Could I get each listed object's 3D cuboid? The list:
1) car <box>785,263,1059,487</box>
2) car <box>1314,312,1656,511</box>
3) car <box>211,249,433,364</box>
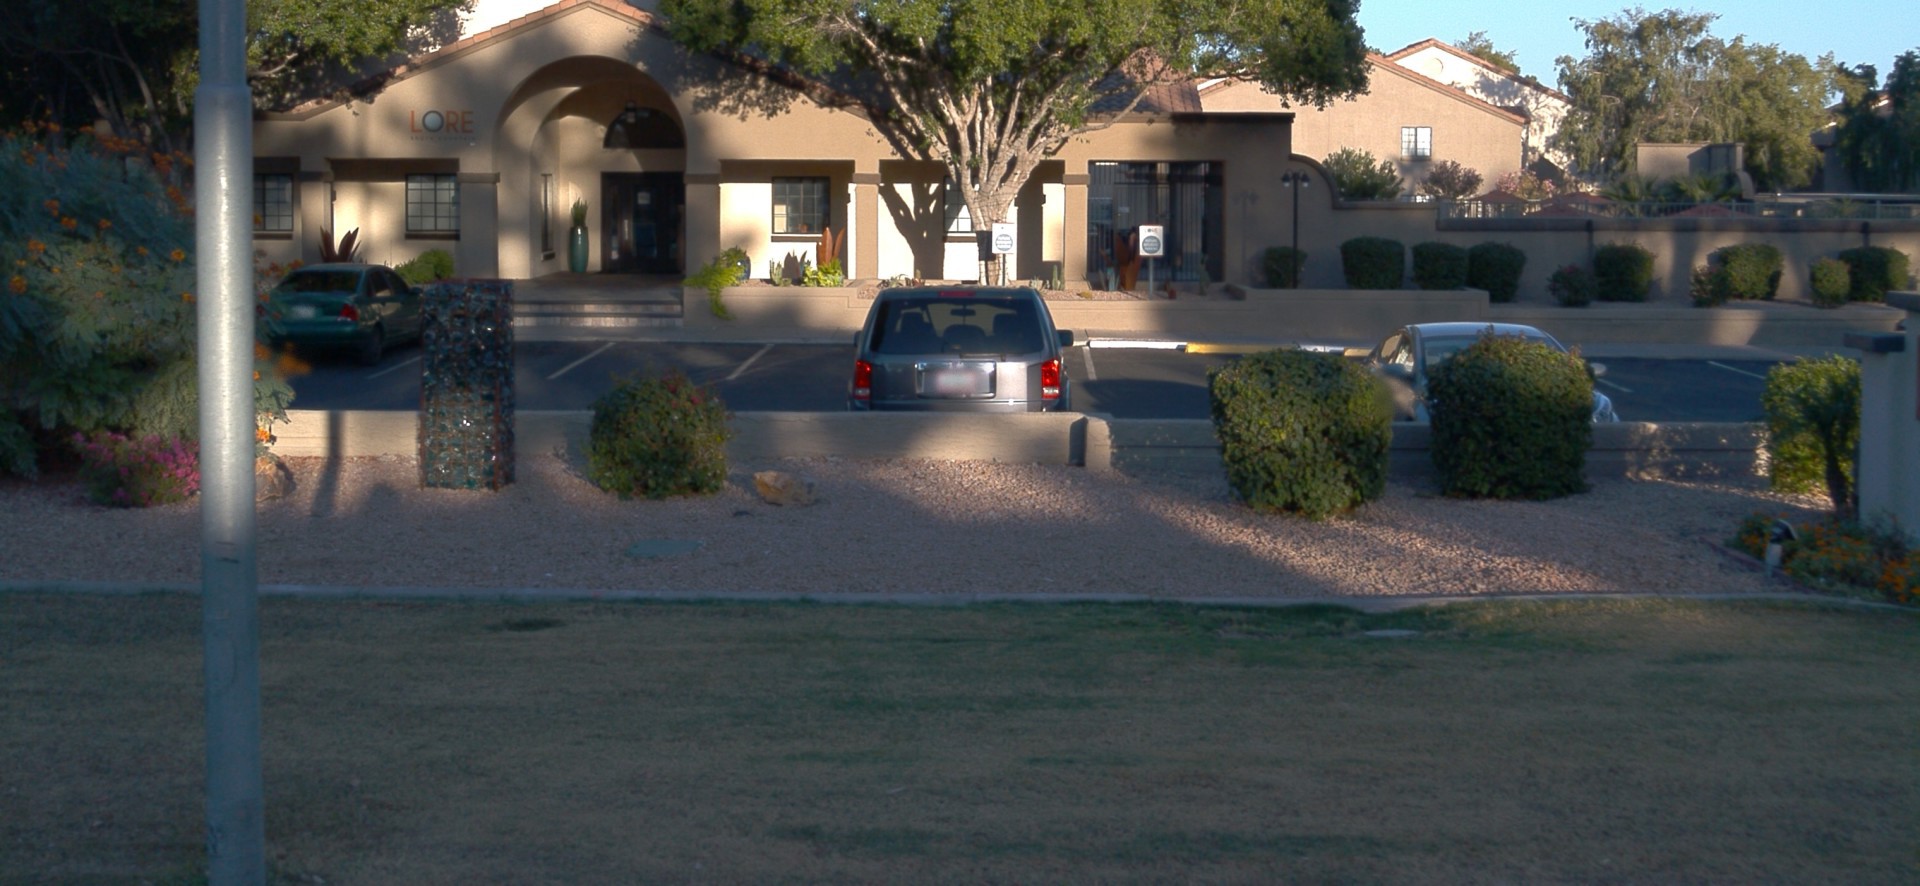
[{"bbox_3d":[-0.195,-0.778,19.515,2.235,1.753,5.056,0,5,3],"label":"car"},{"bbox_3d":[4.717,-0.398,19.322,2.242,1.462,4.446,0,5,2],"label":"car"},{"bbox_3d":[-9.790,-2.185,32.175,1.975,1.624,4.674,0,5,0],"label":"car"}]
